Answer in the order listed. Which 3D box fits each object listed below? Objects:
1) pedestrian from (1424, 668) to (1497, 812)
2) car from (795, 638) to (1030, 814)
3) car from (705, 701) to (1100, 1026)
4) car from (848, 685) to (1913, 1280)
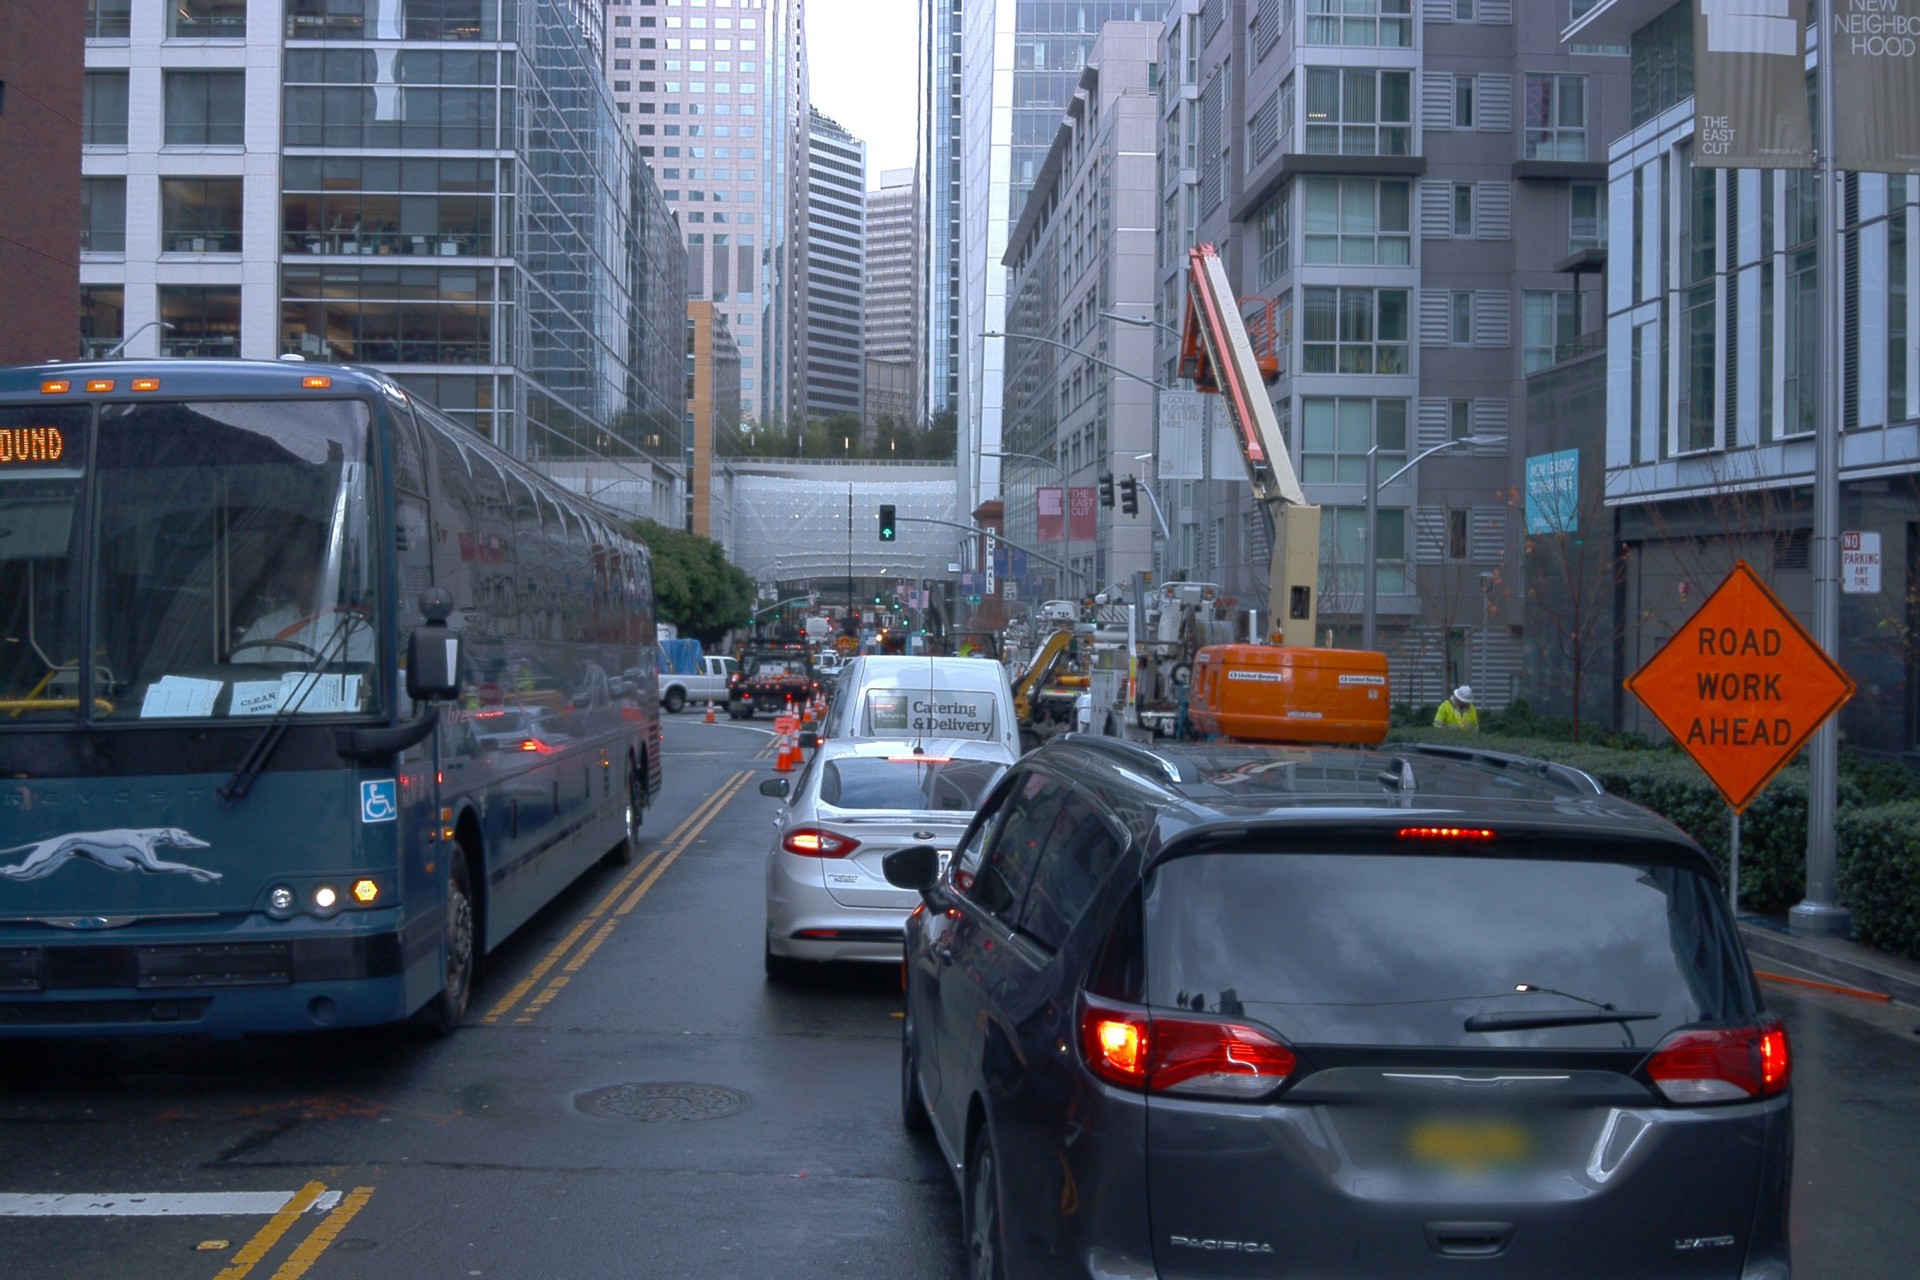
[{"bbox_3d":[6.950,1.381,28.626,0.821,1.949,0.618,1,0,-4],"label":"pedestrian"},{"bbox_3d":[-0.542,0.747,19.507,1.860,1.470,3.431,1,1,-7],"label":"car"},{"bbox_3d":[-0.378,1.308,13.826,2.164,1.580,4.901,1,1,-1],"label":"car"},{"bbox_3d":[0.802,1.111,6.811,2.058,1.750,4.787,1,1,-6],"label":"car"}]
